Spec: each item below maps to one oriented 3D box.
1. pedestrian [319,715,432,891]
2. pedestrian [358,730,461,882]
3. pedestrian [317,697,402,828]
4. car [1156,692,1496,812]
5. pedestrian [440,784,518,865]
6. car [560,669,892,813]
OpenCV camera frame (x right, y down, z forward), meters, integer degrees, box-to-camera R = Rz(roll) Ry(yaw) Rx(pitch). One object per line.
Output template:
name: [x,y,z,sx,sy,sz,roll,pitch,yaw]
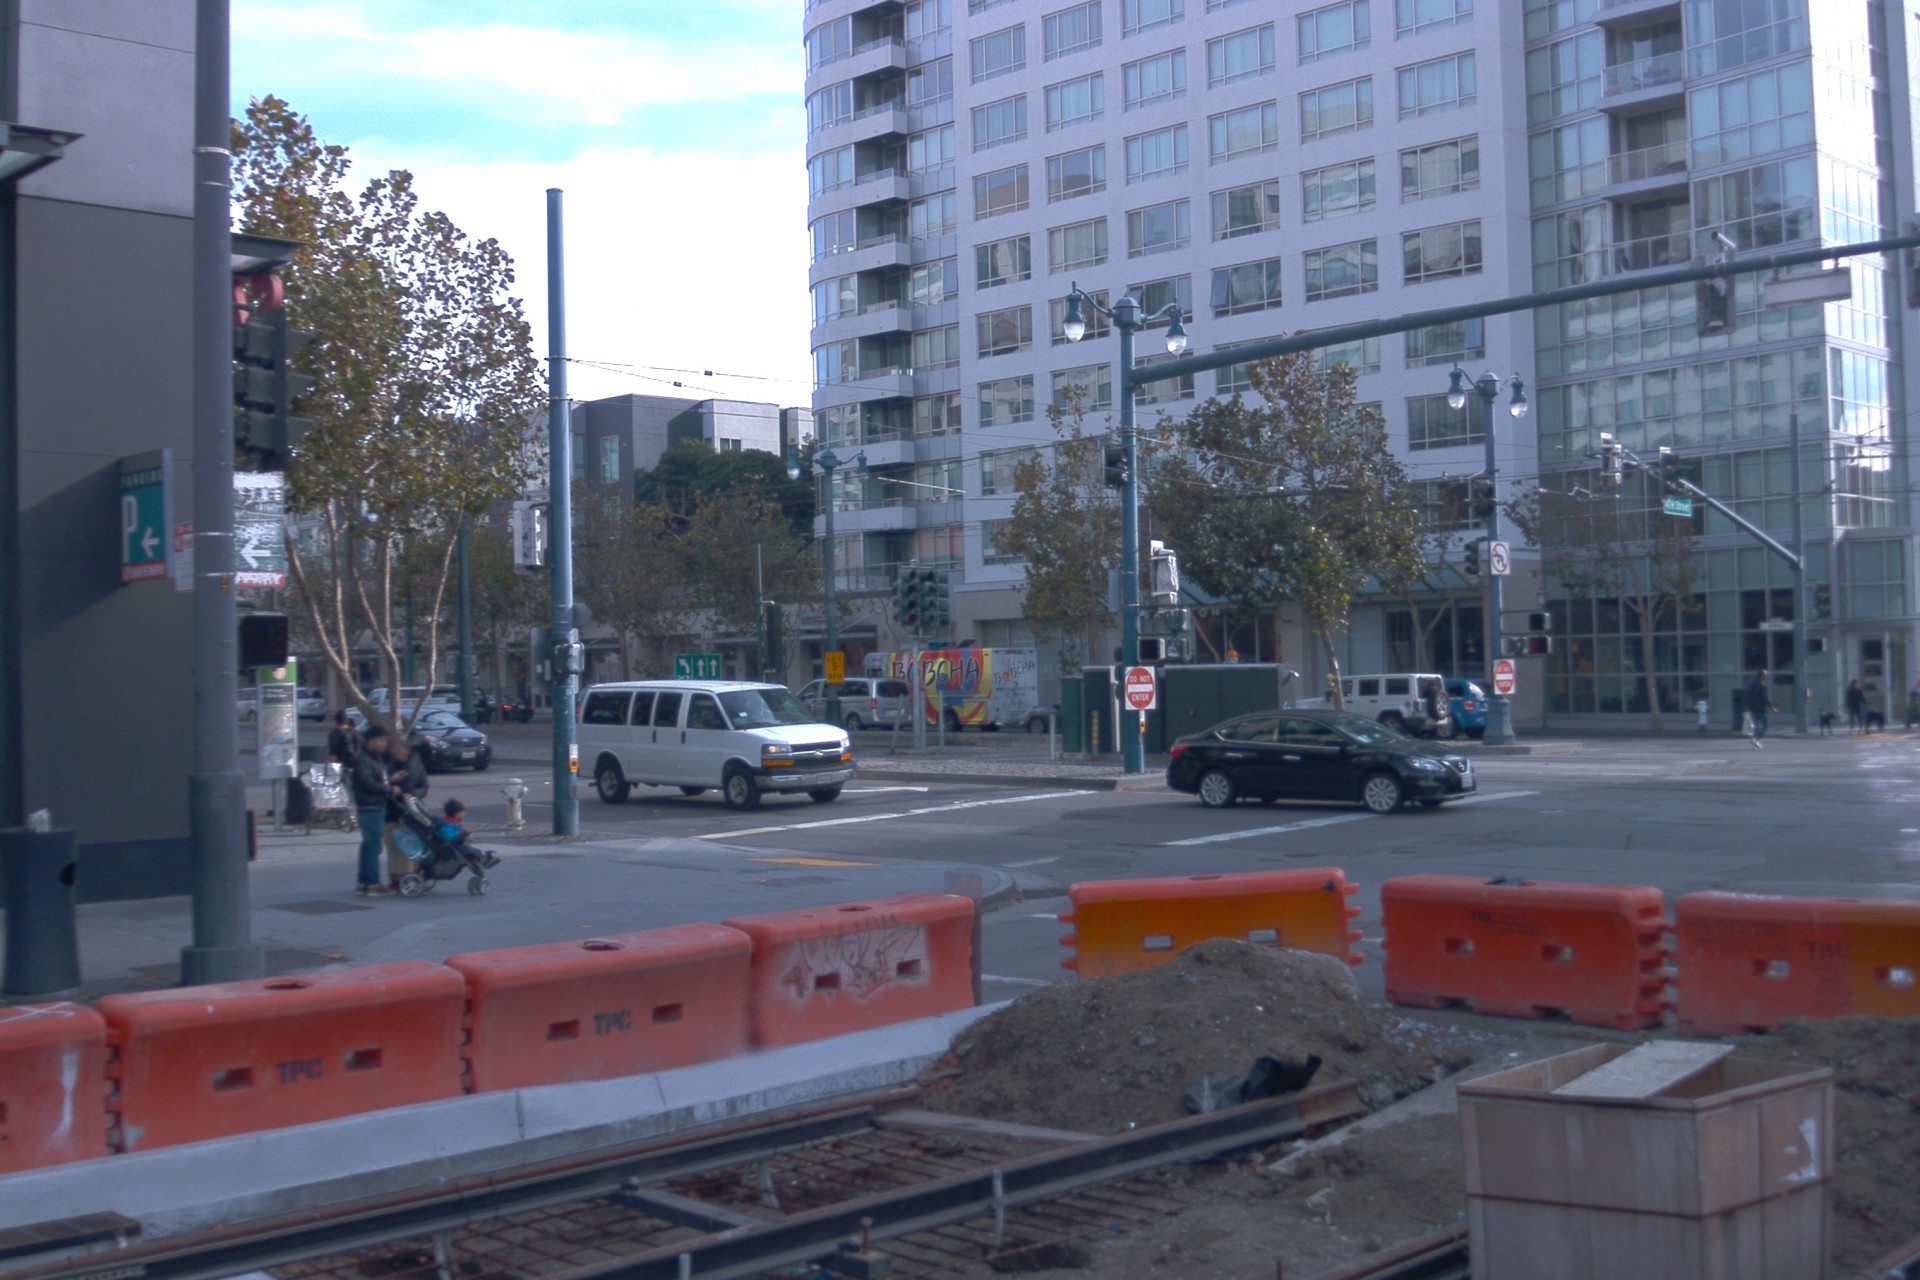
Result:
pedestrian: [-5.750,1.581,20.442,0.748,1.660,0.767,0,-1,38]
pedestrian: [-5.517,1.647,20.835,0.723,1.460,0.660,0,-1,29]
pedestrian: [-8.708,1.750,30.113,0.982,1.830,0.941,1,-1,-28]
car: [5.392,1.602,30.934,4.613,1.554,1.977,0,-1,41]
pedestrian: [-4.765,1.825,20.578,0.723,0.752,0.485,0,-1,-15]
car: [-4.087,1.624,35.541,5.769,2.200,2.561,0,-1,45]
